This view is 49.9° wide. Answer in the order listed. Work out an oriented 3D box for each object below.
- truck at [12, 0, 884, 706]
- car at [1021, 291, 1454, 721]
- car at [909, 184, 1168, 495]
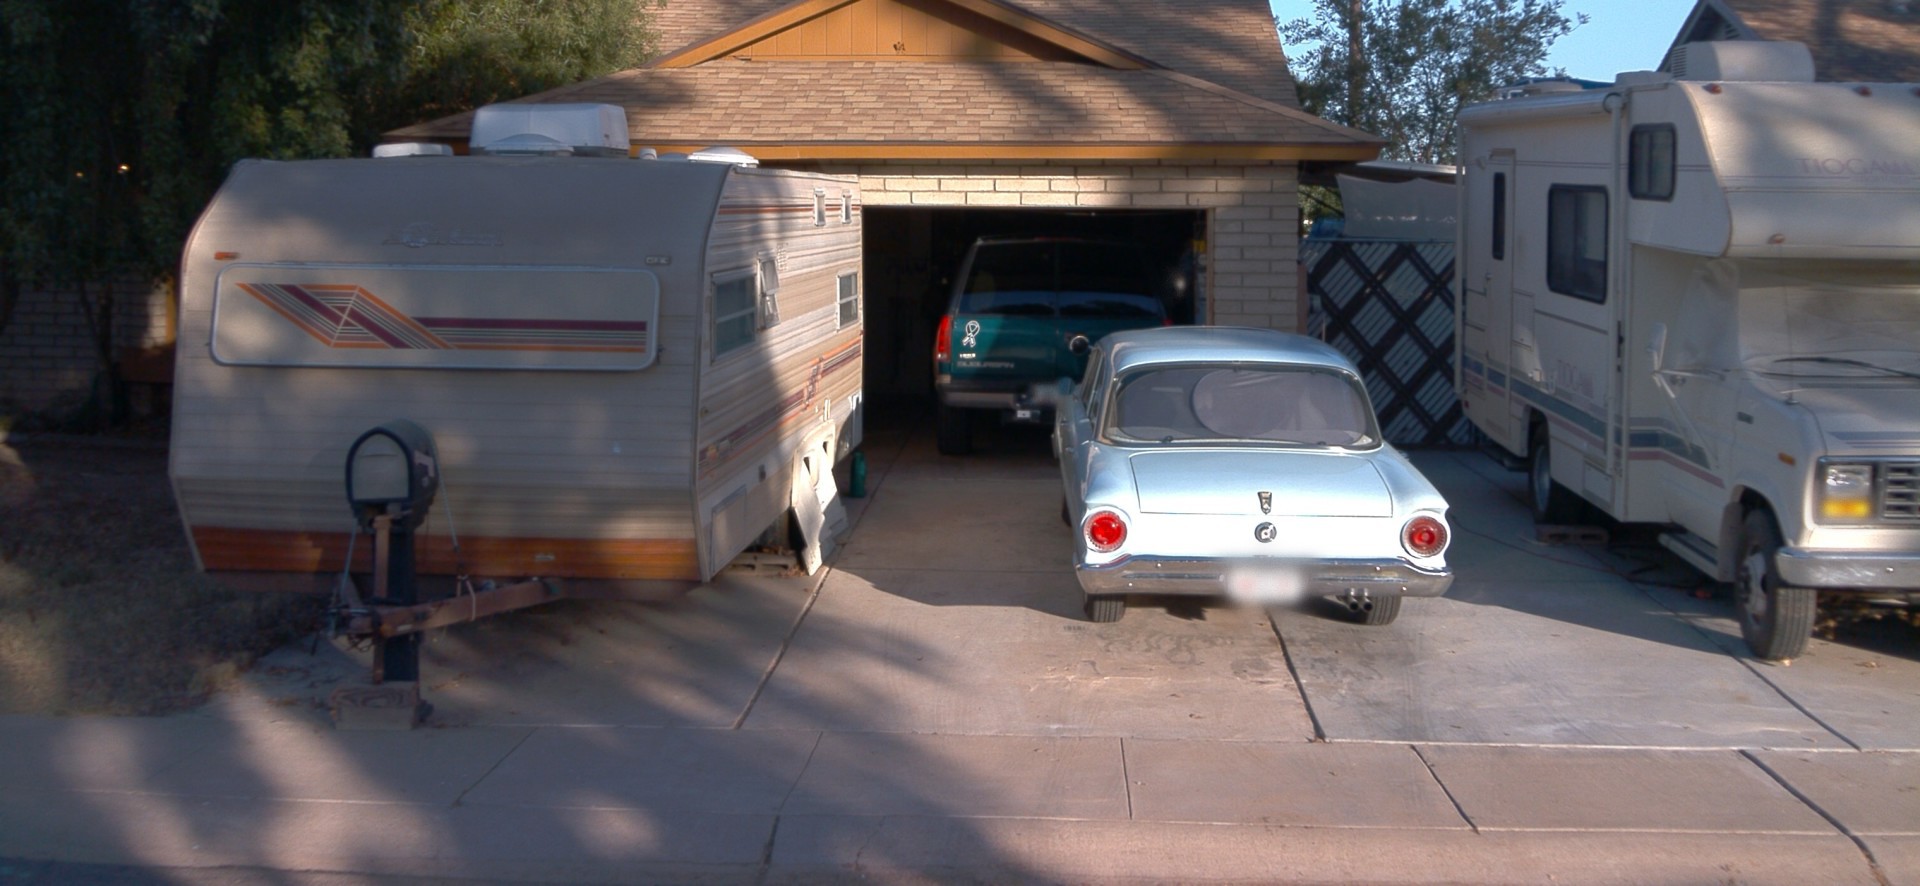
[{"bbox_3d":[-2.234,-0.798,11.987,2.724,2.836,7.304,1,6,4],"label":"truck"},{"bbox_3d":[1.383,0.117,12.217,1.954,1.811,4.930,1,6,1],"label":"car"},{"bbox_3d":[0.642,-1.049,18.174,1.956,2.350,4.594,1,5,1],"label":"car"}]
